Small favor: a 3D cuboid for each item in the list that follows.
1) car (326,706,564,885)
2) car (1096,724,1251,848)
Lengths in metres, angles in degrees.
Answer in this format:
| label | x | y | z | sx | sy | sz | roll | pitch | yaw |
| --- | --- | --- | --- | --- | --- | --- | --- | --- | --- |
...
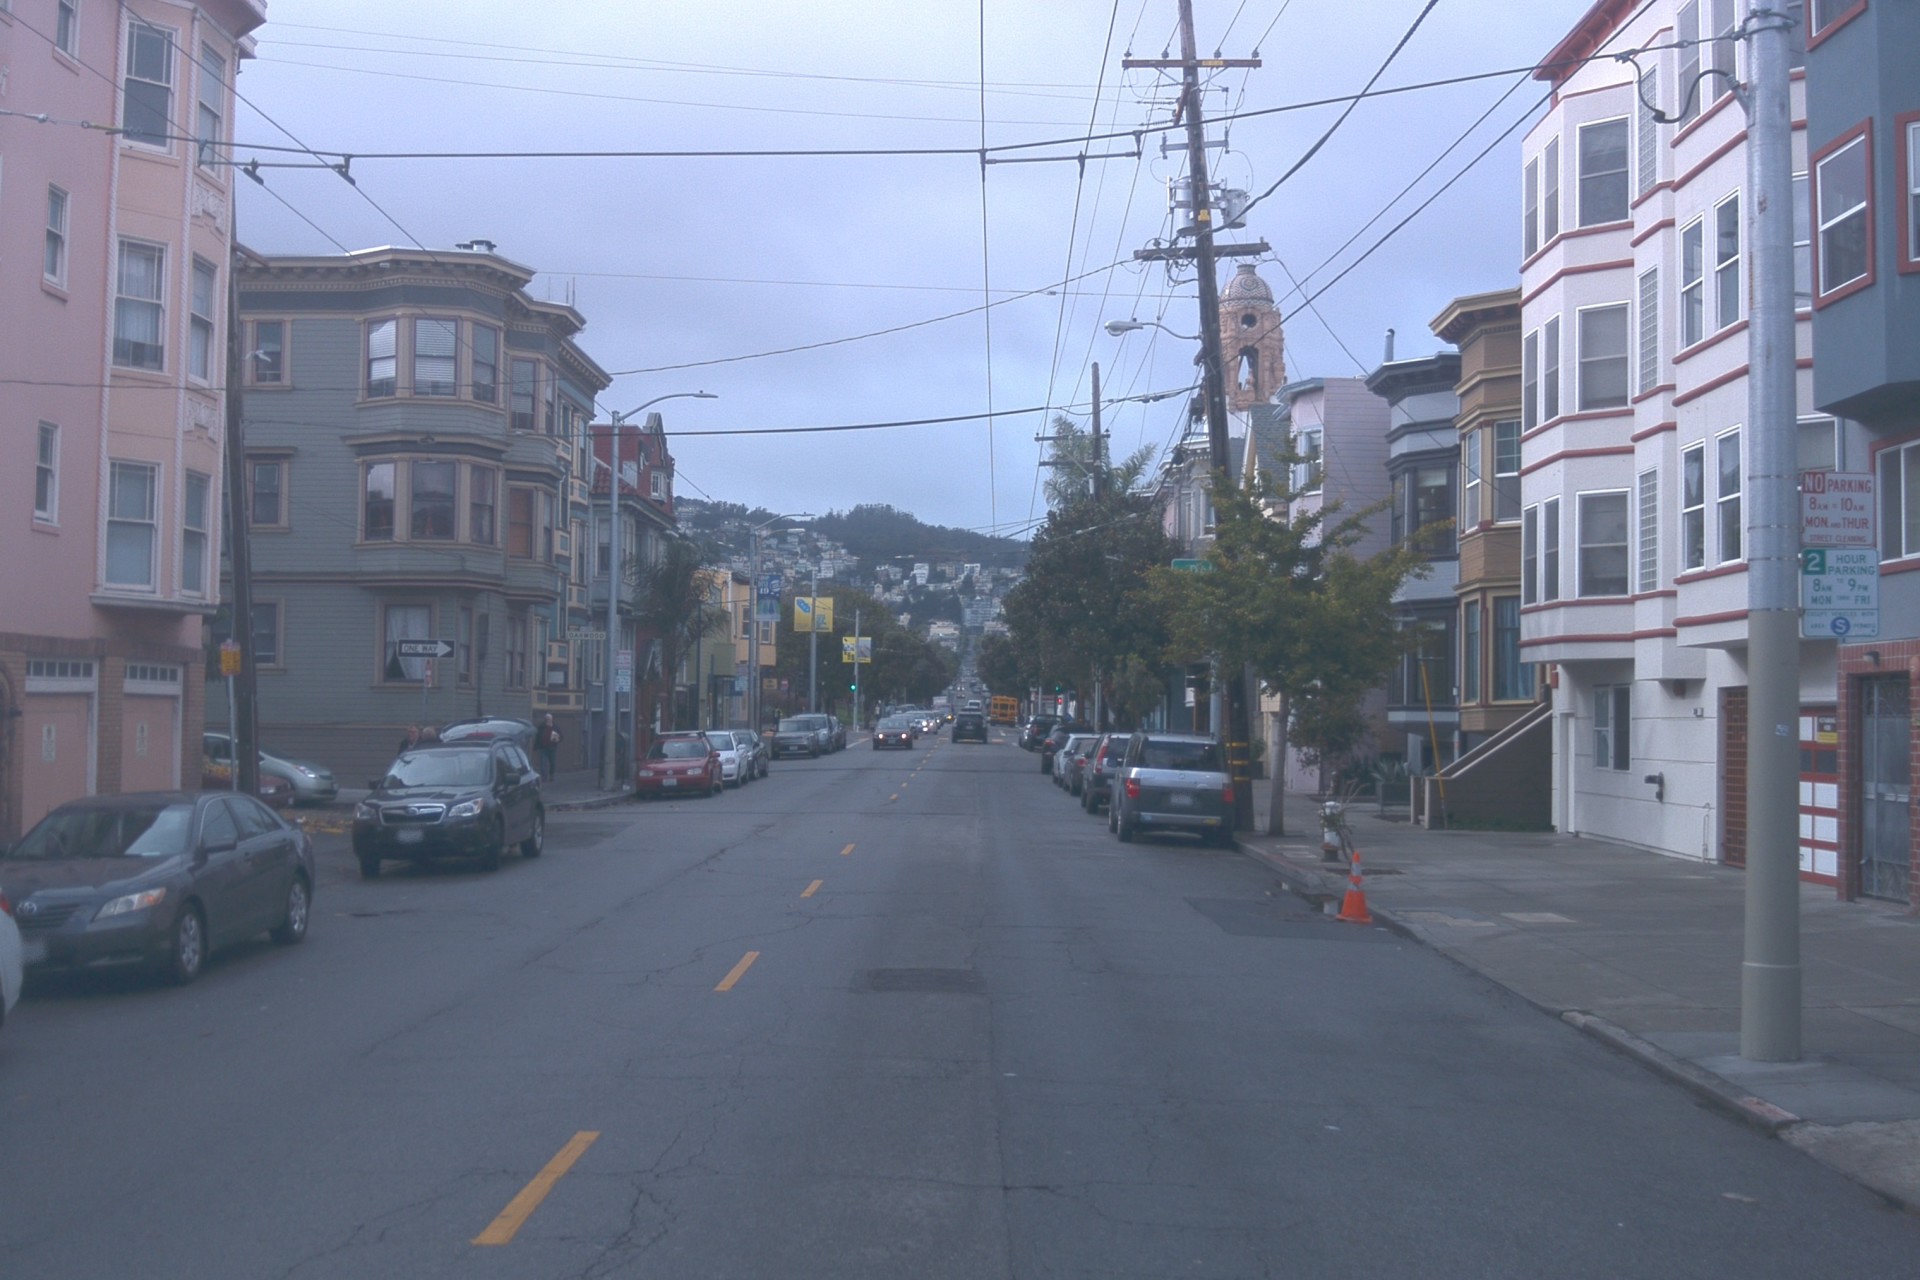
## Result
| label | x | y | z | sx | sy | sz | roll | pitch | yaw |
| --- | --- | --- | --- | --- | --- | --- | --- | --- | --- |
| car | -6.825 | 2.000 | 28.168 | 2.058 | 2.150 | 4.759 | 1 | -2 | -1 |
| car | 3.466 | 2.356 | 34.595 | 2.079 | 1.840 | 4.298 | 1 | -2 | -1 |
